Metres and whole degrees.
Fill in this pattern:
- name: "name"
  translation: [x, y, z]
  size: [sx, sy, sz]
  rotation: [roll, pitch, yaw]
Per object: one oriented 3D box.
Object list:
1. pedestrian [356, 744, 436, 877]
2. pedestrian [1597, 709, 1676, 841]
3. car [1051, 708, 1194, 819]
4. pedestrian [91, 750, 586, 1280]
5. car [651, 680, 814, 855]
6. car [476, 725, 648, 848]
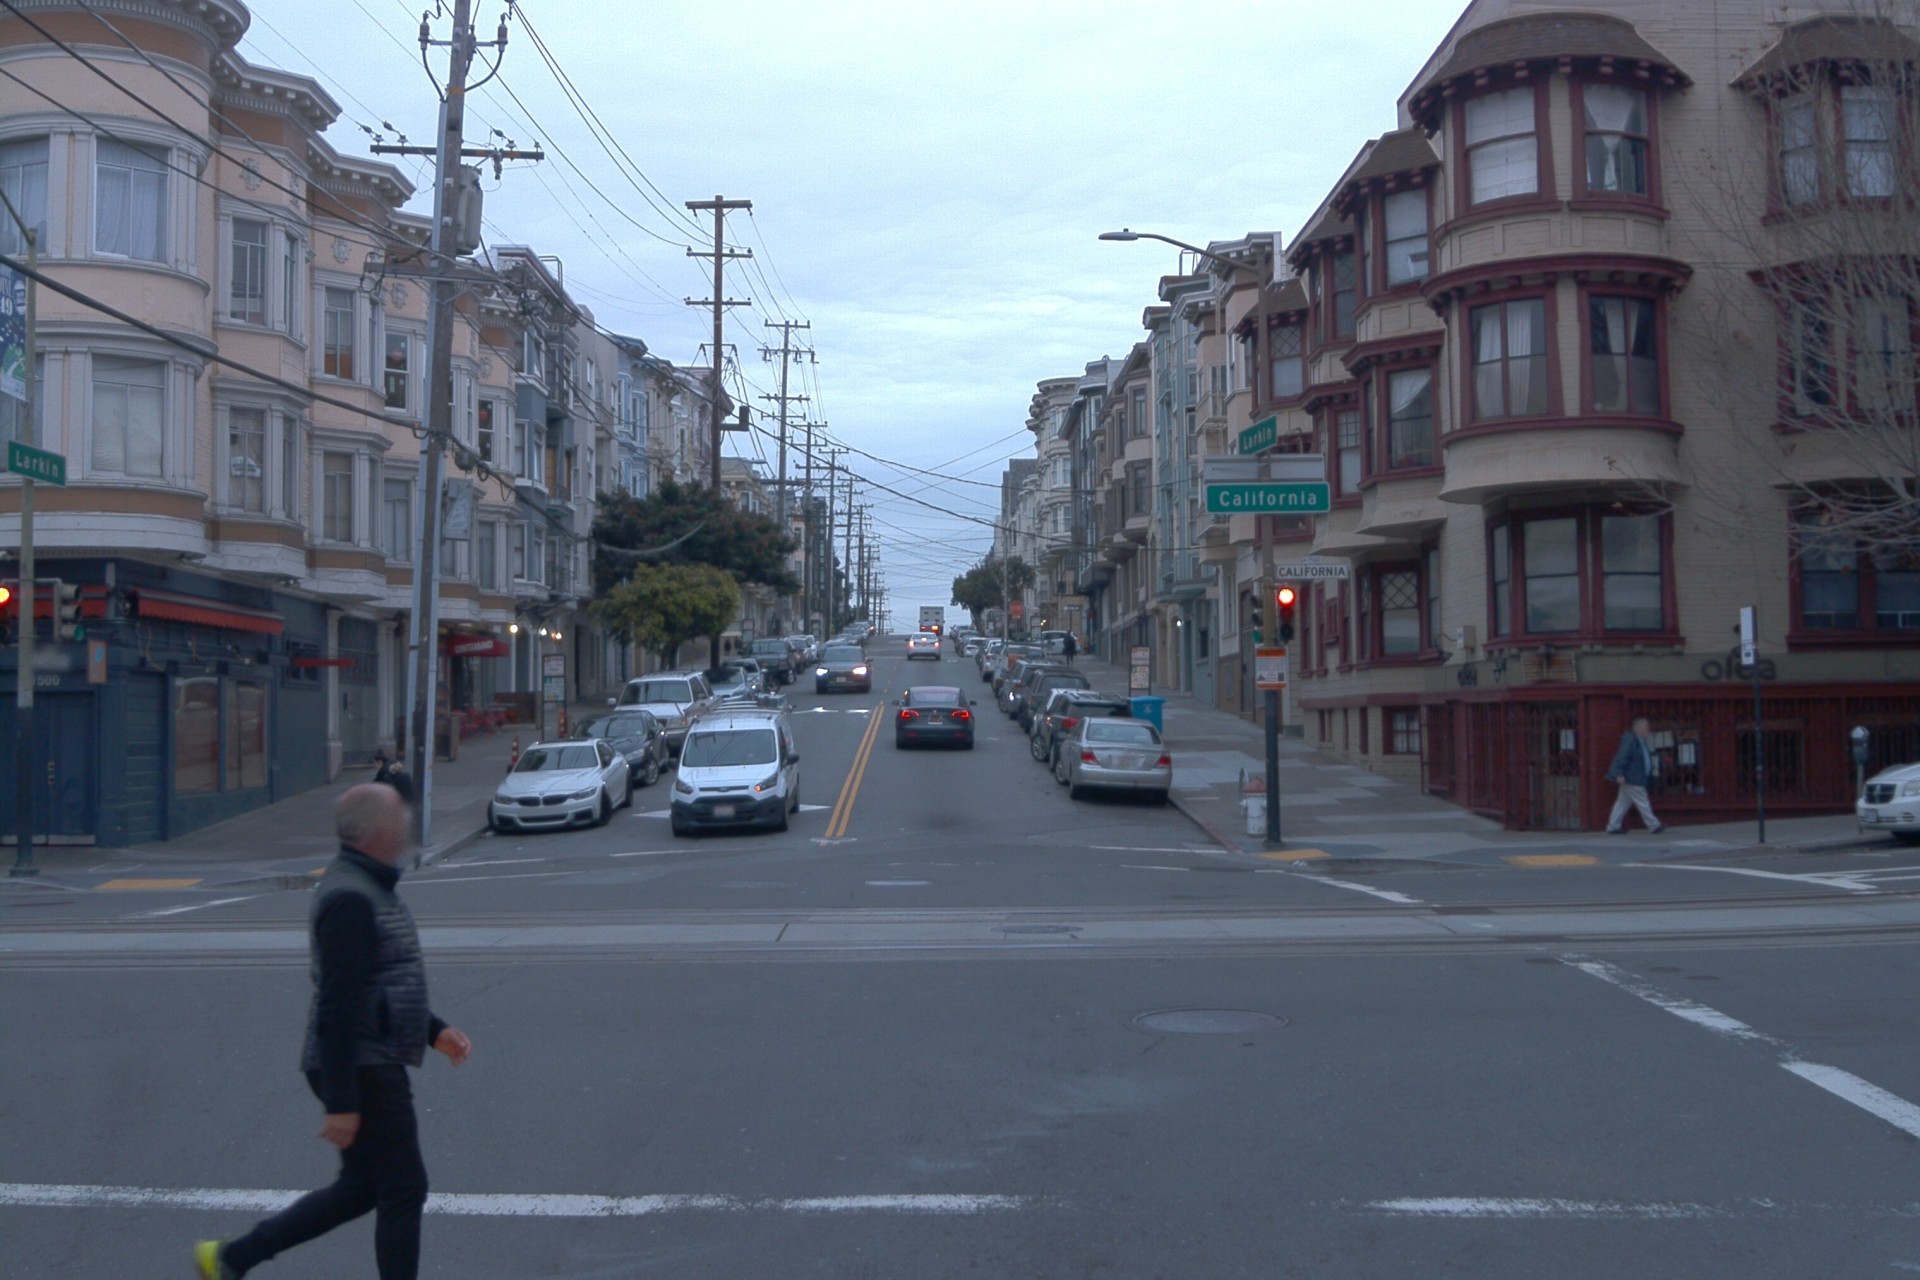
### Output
- name: "pedestrian"
  translation: [-8.010, 2.414, 29.235]
  size: [0.944, 1.820, 0.722]
  rotation: [0, 1, -2]
- name: "pedestrian"
  translation: [9.750, 1.931, 29.676]
  size: [0.908, 1.830, 0.914]
  rotation: [0, 1, 7]
- name: "car"
  translation: [2.936, 2.236, 38.183]
  size: [2.108, 1.700, 4.470]
  rotation: [0, 1, -2]
- name: "pedestrian"
  translation: [-1.789, 1.221, 6.122]
  size: [1.248, 1.716, 0.879]
  rotation: [0, 1, -5]
- name: "car"
  translation: [-3.621, 1.981, 33.587]
  size: [2.196, 2.490, 4.690]
  rotation: [0, 1, -1]
- name: "car"
  translation: [-6.813, 2.476, 35.707]
  size: [2.150, 1.707, 4.680]
  rotation: [0, 1, -1]
